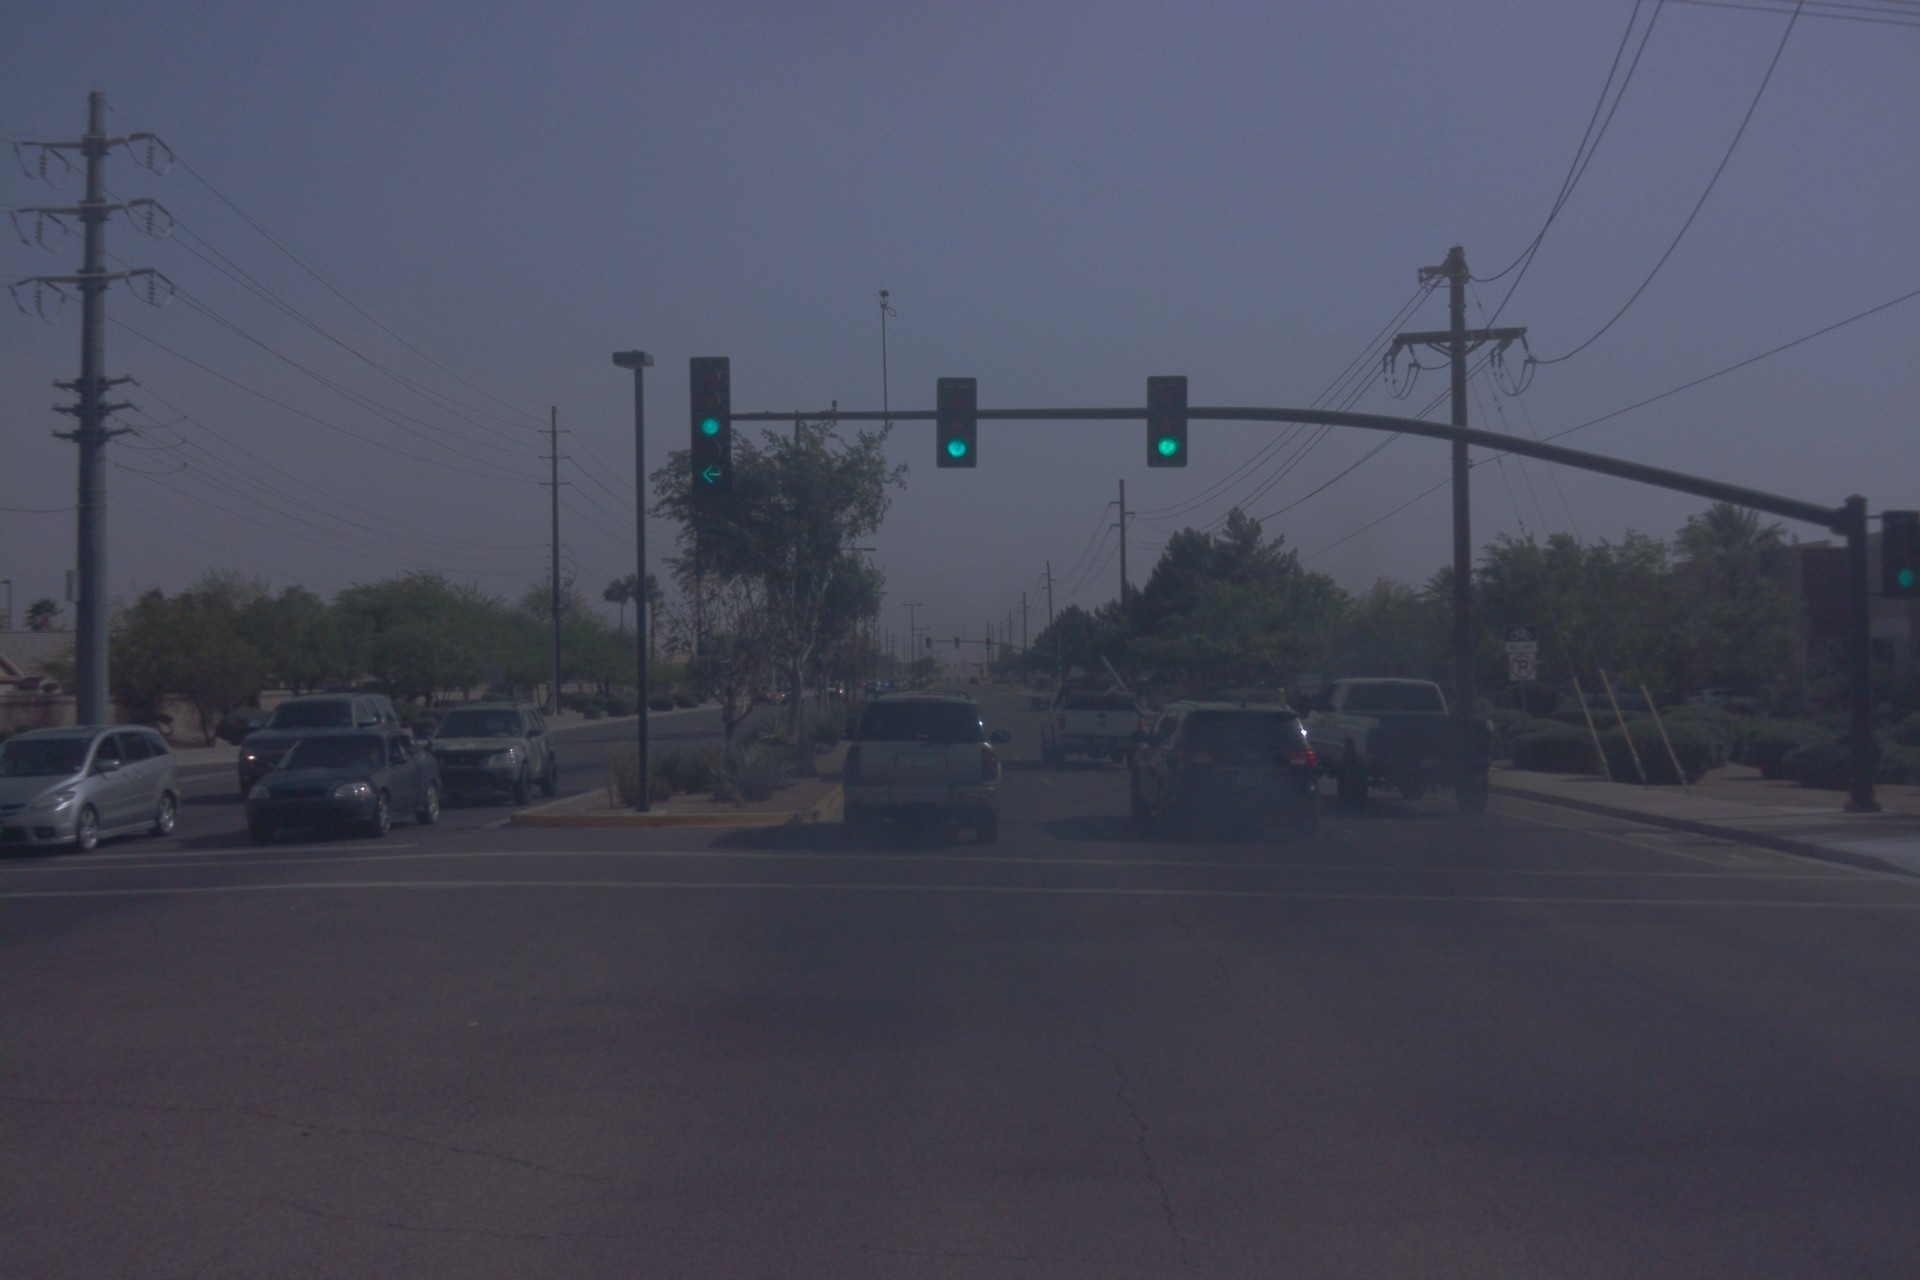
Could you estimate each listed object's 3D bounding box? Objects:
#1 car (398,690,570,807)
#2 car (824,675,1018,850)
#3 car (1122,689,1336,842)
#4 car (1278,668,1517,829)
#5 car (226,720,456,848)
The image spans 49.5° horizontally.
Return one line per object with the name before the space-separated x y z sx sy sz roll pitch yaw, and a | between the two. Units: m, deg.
car | -7.977 1.780 35.302 2.026 1.790 4.404 0 -1 -2
car | -0.451 1.435 26.066 2.201 1.960 4.684 0 -1 0
car | 3.486 1.596 27.940 2.145 1.800 4.884 0 -1 -1
car | 6.976 1.653 34.074 2.415 2.350 6.497 0 -1 -1
car | -8.234 1.876 28.114 1.850 1.450 4.516 0 -1 -1
